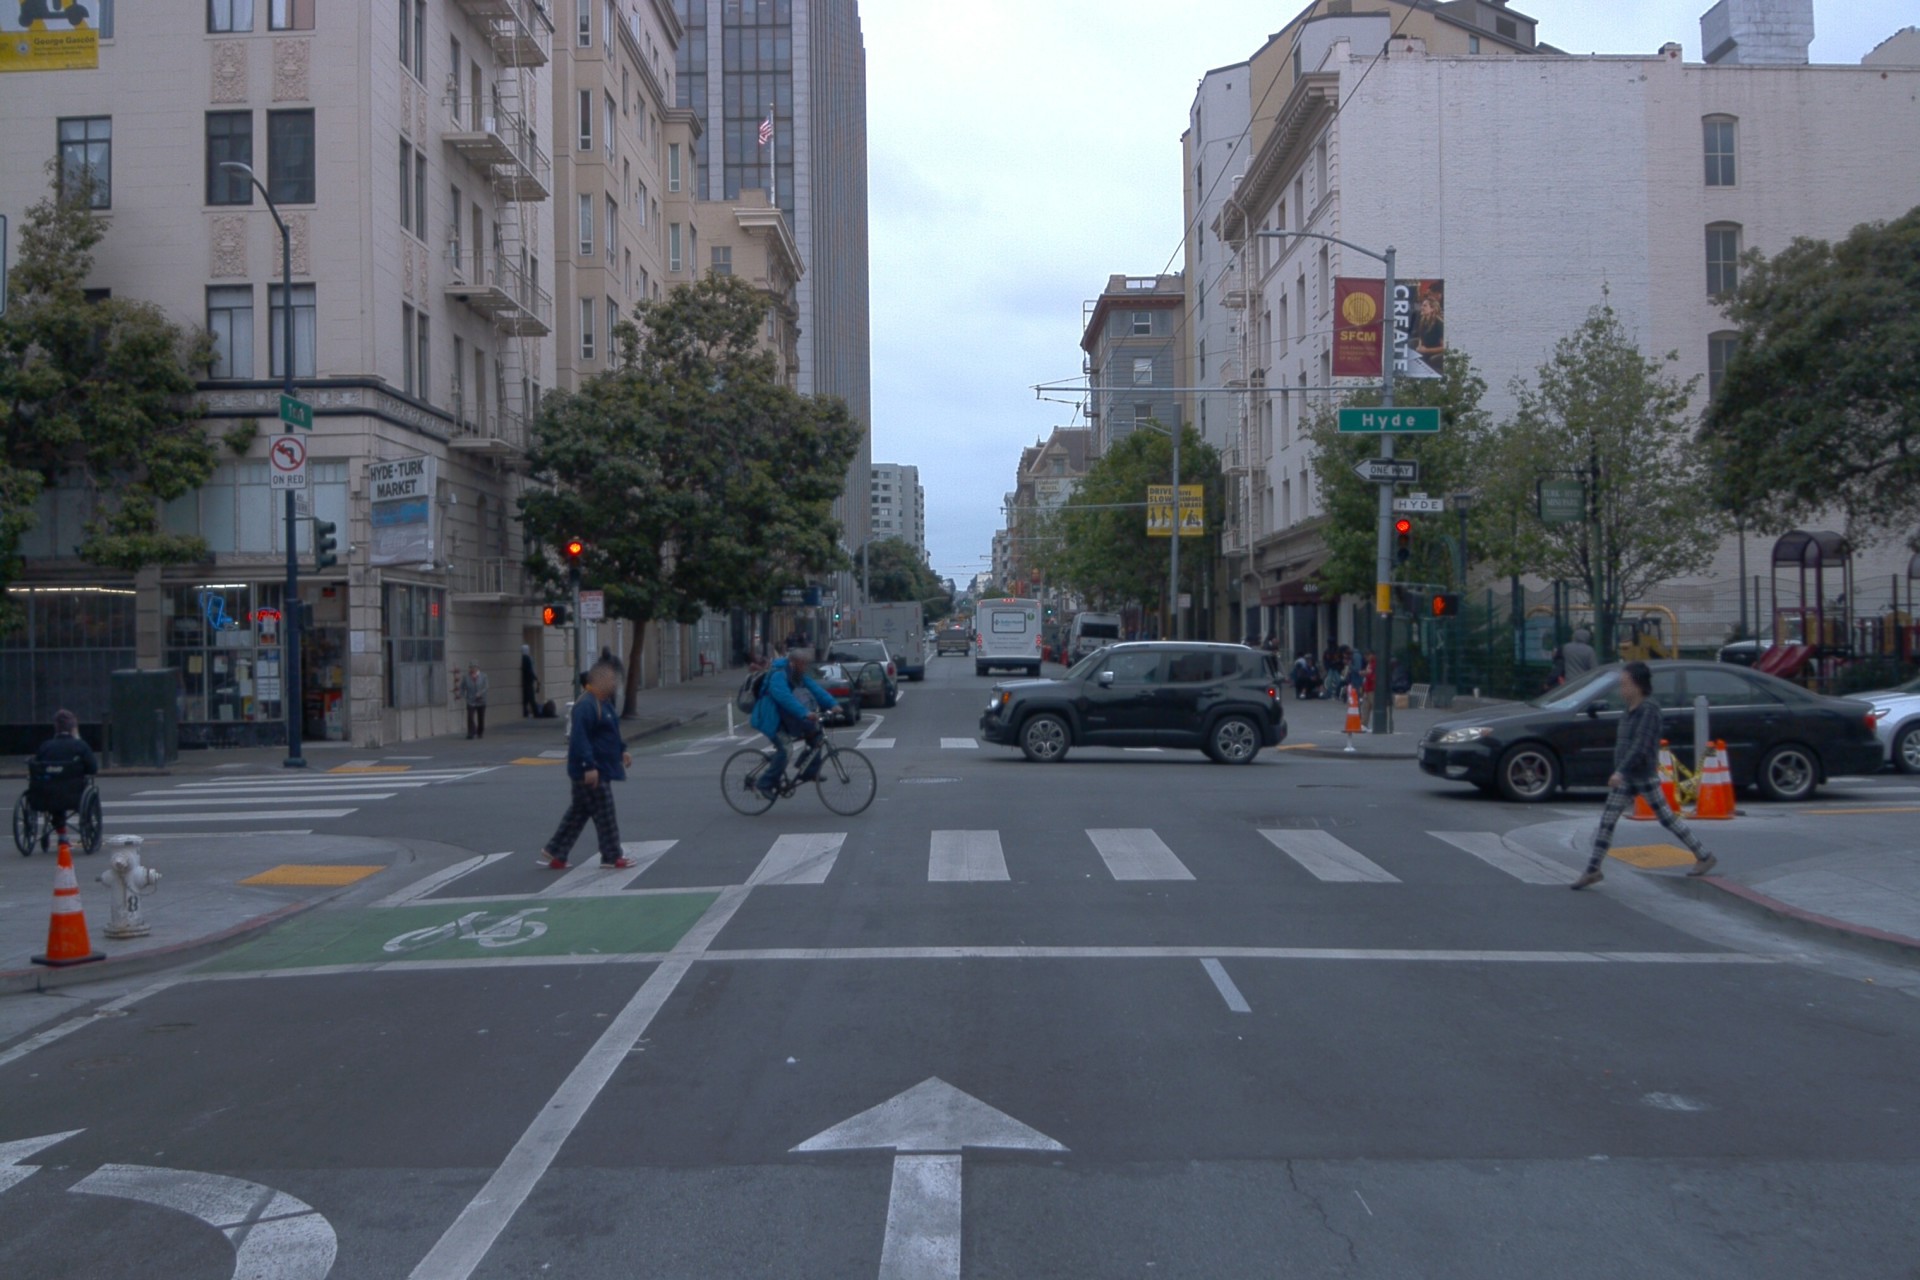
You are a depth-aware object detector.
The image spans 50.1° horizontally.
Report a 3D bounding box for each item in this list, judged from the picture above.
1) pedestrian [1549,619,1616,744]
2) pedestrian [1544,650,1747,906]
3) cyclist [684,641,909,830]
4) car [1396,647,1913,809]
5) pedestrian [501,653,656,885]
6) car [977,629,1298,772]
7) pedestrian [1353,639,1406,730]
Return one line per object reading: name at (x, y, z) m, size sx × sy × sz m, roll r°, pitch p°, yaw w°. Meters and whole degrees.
pedestrian at (10.273, 0.669, 33.943) m, size 0.836 × 2.010 × 0.794 m, roll 0°, pitch 1°, yaw 38°
pedestrian at (4.945, 0.969, 14.905) m, size 1.094 × 1.760 × 0.987 m, roll 0°, pitch 1°, yaw -5°
cyclist at (-1.610, 0.902, 20.271) m, size 1.970 × 1.750 × 1.003 m, roll 0°, pitch 1°, yaw 28°
car at (7.301, 0.905, 22.029) m, size 4.826 × 1.600 × 2.060 m, roll 0°, pitch 1°, yaw 1°
pedestrian at (-3.063, 1.018, 16.605) m, size 1.036 × 1.800 × 0.907 m, roll 0°, pitch 1°, yaw 4°
car at (2.373, 0.801, 28.311) m, size 4.251 × 1.870 × 1.916 m, roll 0°, pitch 1°, yaw 1°
pedestrian at (7.621, 0.805, 37.400) m, size 0.906 × 1.620 × 0.868 m, roll 0°, pitch 1°, yaw 9°
